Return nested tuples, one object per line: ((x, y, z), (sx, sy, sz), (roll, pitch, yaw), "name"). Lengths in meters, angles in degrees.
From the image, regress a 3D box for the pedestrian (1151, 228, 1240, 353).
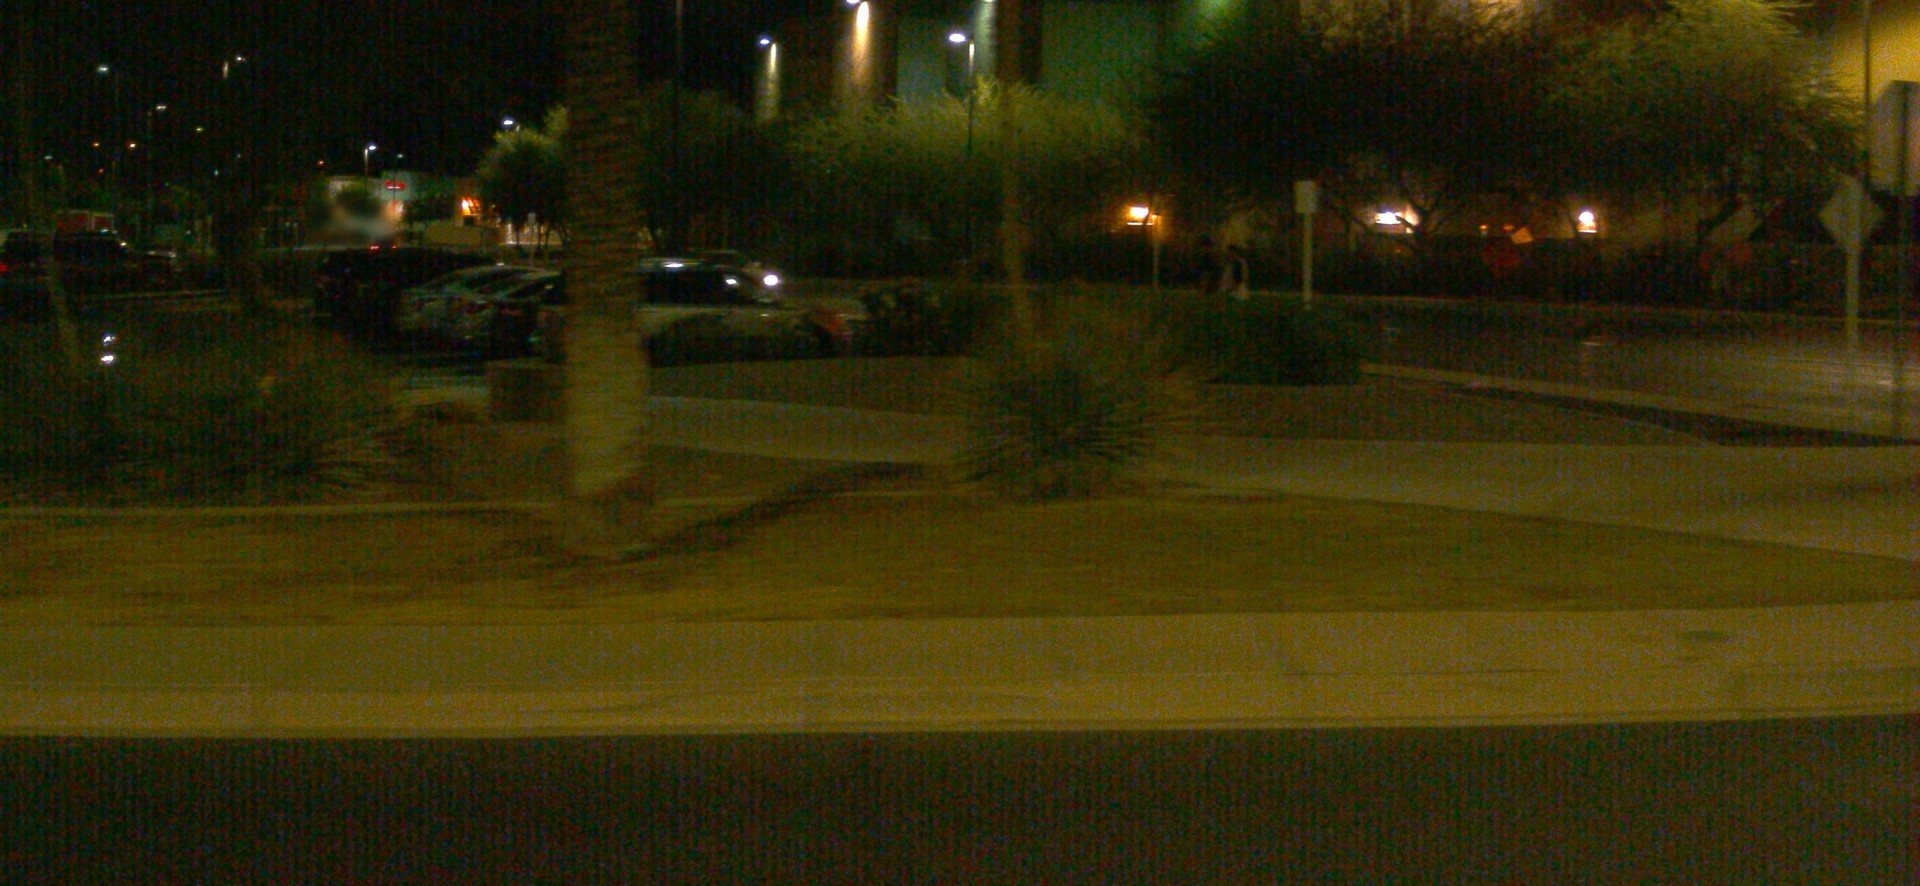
((3.747, -2.442, 33.104), (1.186, 1.949, 1.114), (1, 2, 20), "pedestrian")

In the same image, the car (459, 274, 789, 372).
((-5.662, -2.089, 35.274), (5.125, 1.466, 2.091), (-3, 5, -32), "car")

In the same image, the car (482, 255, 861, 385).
((-4.528, -2.015, 32.897), (5.377, 1.845, 2.532), (-3, 5, -31), "car")

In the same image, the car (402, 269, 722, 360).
((-7.116, -2.358, 37.421), (5.263, 1.446, 2.121), (-3, 5, -32), "car")

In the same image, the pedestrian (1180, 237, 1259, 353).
((4.289, -2.466, 34.383), (1.049, 1.869, 1.009), (1, 2, 23), "pedestrian")
